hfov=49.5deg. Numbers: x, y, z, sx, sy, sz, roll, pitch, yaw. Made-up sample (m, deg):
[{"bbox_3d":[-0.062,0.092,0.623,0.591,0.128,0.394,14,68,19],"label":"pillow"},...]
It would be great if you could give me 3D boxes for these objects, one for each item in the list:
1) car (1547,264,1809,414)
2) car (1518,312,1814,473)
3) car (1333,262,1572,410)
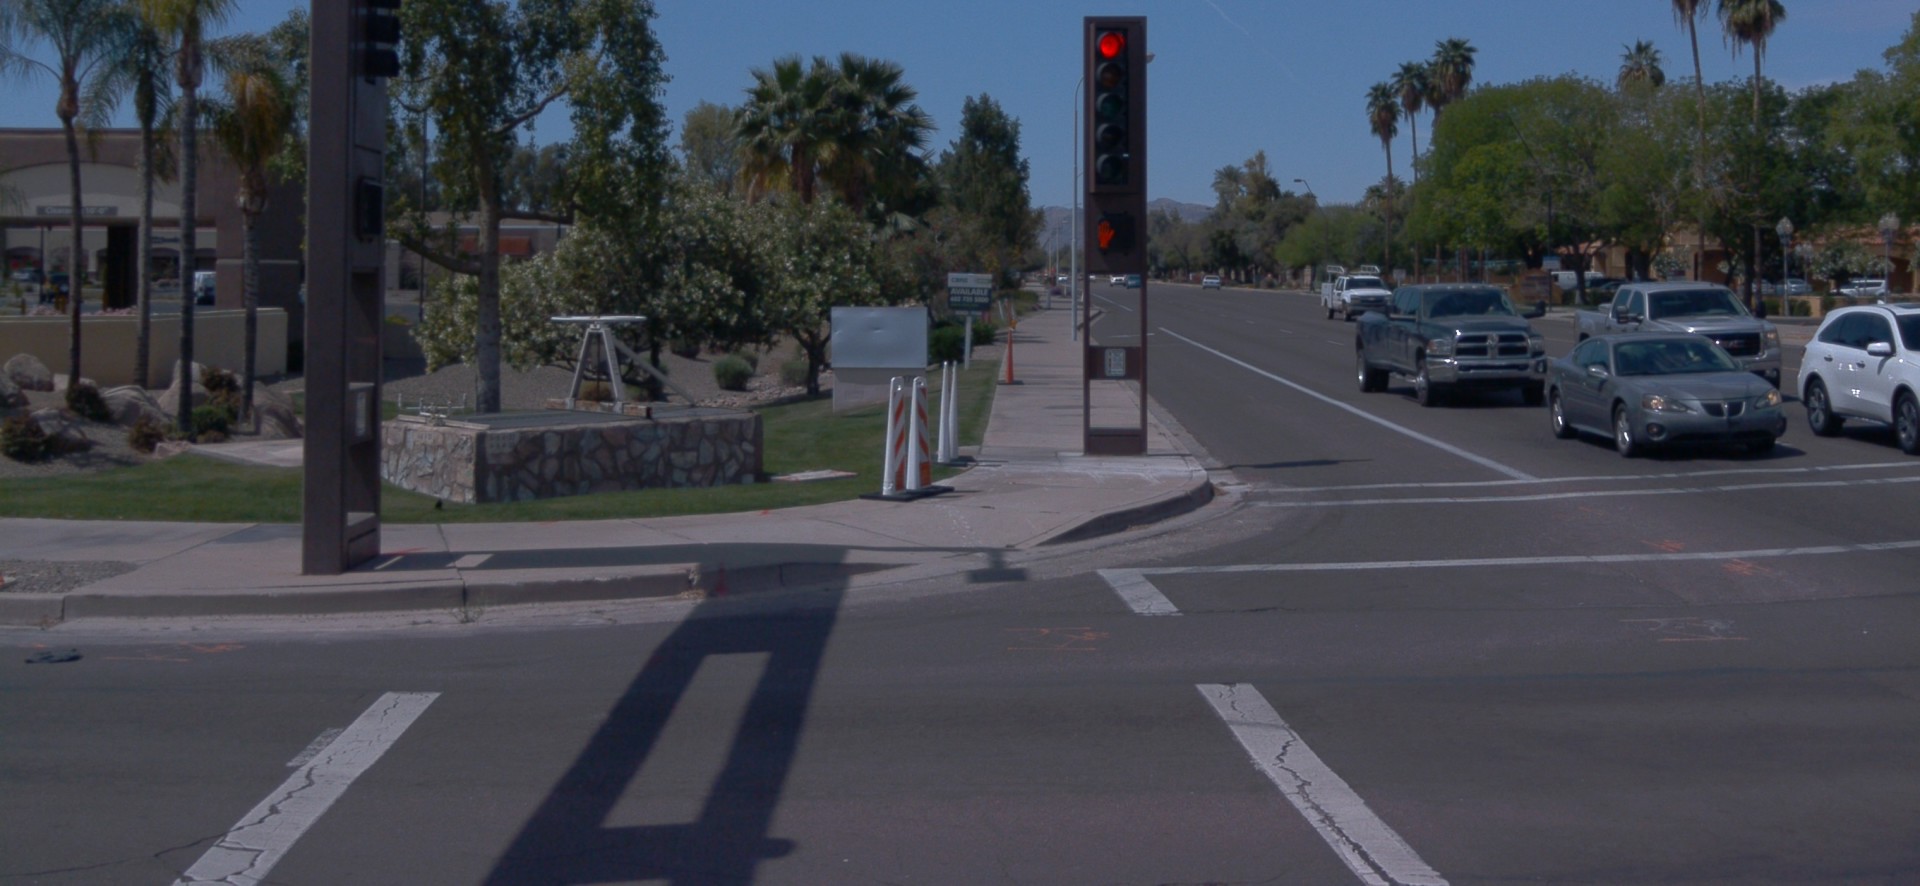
[{"bbox_3d":[12.095,-1.887,35.616,2.478,2.231,6.118,1,5,1],"label":"car"},{"bbox_3d":[8.575,-0.723,25.806,2.101,1.594,4.940,1,5,1],"label":"car"},{"bbox_3d":[8.462,-2.000,36.540,2.774,2.251,6.568,1,5,1],"label":"car"}]
